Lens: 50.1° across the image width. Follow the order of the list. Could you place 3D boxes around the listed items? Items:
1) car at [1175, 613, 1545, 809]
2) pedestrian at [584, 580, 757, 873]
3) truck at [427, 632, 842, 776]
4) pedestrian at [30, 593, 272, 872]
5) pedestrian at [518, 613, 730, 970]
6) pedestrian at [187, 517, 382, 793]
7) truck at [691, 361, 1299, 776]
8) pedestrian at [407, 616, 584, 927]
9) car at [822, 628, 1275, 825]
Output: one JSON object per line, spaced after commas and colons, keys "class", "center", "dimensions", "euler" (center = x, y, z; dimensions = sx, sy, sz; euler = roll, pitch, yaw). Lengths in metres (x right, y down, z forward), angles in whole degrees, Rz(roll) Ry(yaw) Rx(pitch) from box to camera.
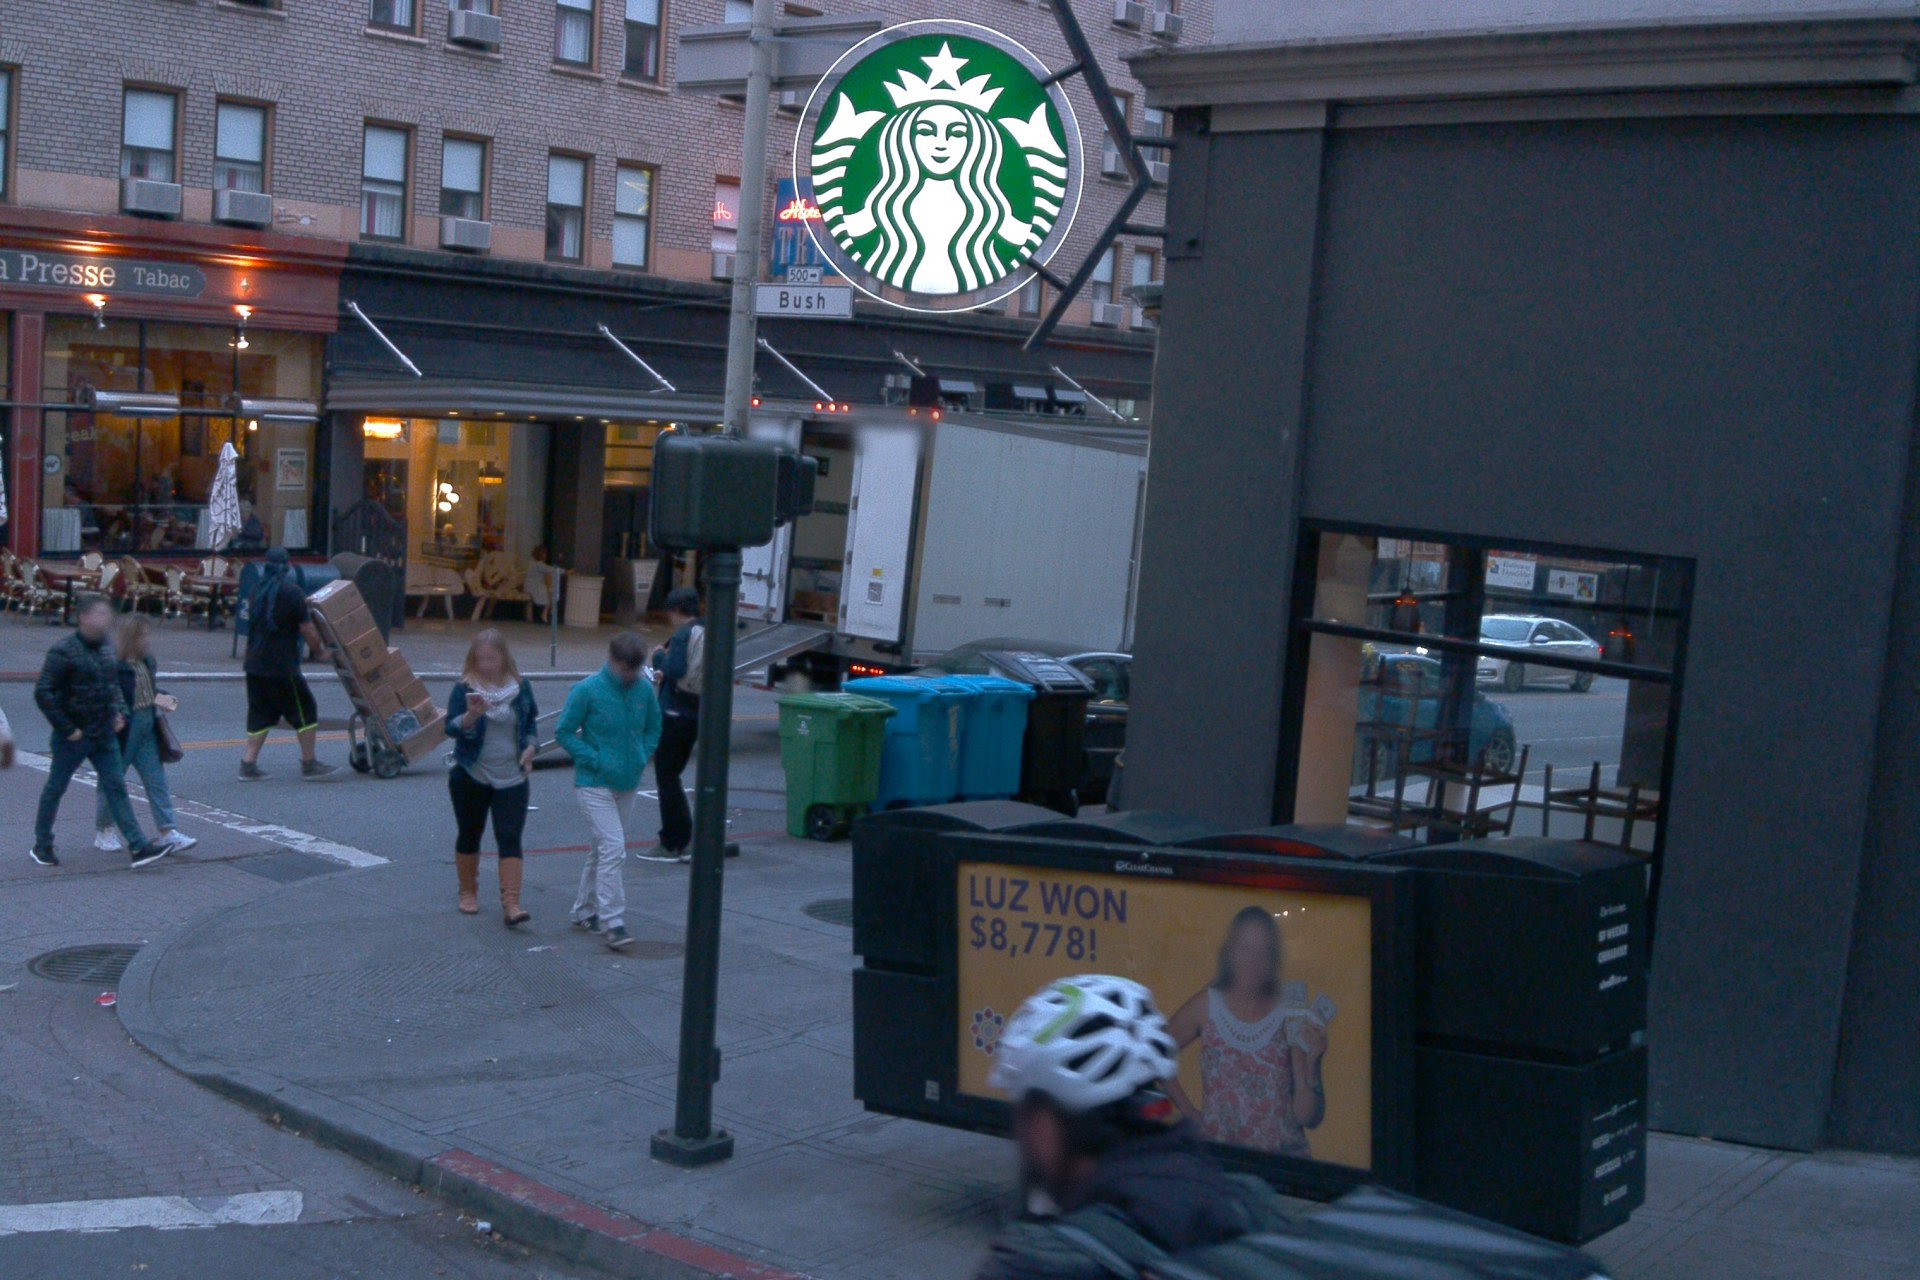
{"class": "car", "center": [4.543, 0.693, 22.982], "dimensions": [2.070, 1.977, 4.273], "euler": [0, 1, 44]}
{"class": "pedestrian", "center": [-1.855, 0.523, 13.141], "dimensions": [0.885, 1.796, 0.674], "euler": [0, 0, 41]}
{"class": "truck", "center": [-2.841, 0.520, 18.730], "dimensions": [1.006, 1.154, 4.038], "euler": [0, 1, 41]}
{"class": "pedestrian", "center": [-5.155, 0.557, 13.140], "dimensions": [1.037, 1.692, 0.996], "euler": [0, 0, 21]}
{"class": "pedestrian", "center": [-1.749, 0.727, 10.596], "dimensions": [0.780, 1.721, 1.103], "euler": [0, 0, -26]}
{"class": "pedestrian", "center": [-5.290, 0.105, 16.099], "dimensions": [1.127, 2.060, 0.982], "euler": [0, 0, -44]}
{"class": "truck", "center": [0.668, -0.705, 22.740], "dimensions": [2.893, 3.840, 7.201], "euler": [0, 1, 39]}
{"class": "pedestrian", "center": [-2.484, 0.662, 10.960], "dimensions": [0.677, 1.570, 0.904], "euler": [0, 0, -30]}
{"class": "car", "center": [0.939, 0.684, 18.956], "dimensions": [1.948, 1.570, 4.383], "euler": [0, 1, 39]}
